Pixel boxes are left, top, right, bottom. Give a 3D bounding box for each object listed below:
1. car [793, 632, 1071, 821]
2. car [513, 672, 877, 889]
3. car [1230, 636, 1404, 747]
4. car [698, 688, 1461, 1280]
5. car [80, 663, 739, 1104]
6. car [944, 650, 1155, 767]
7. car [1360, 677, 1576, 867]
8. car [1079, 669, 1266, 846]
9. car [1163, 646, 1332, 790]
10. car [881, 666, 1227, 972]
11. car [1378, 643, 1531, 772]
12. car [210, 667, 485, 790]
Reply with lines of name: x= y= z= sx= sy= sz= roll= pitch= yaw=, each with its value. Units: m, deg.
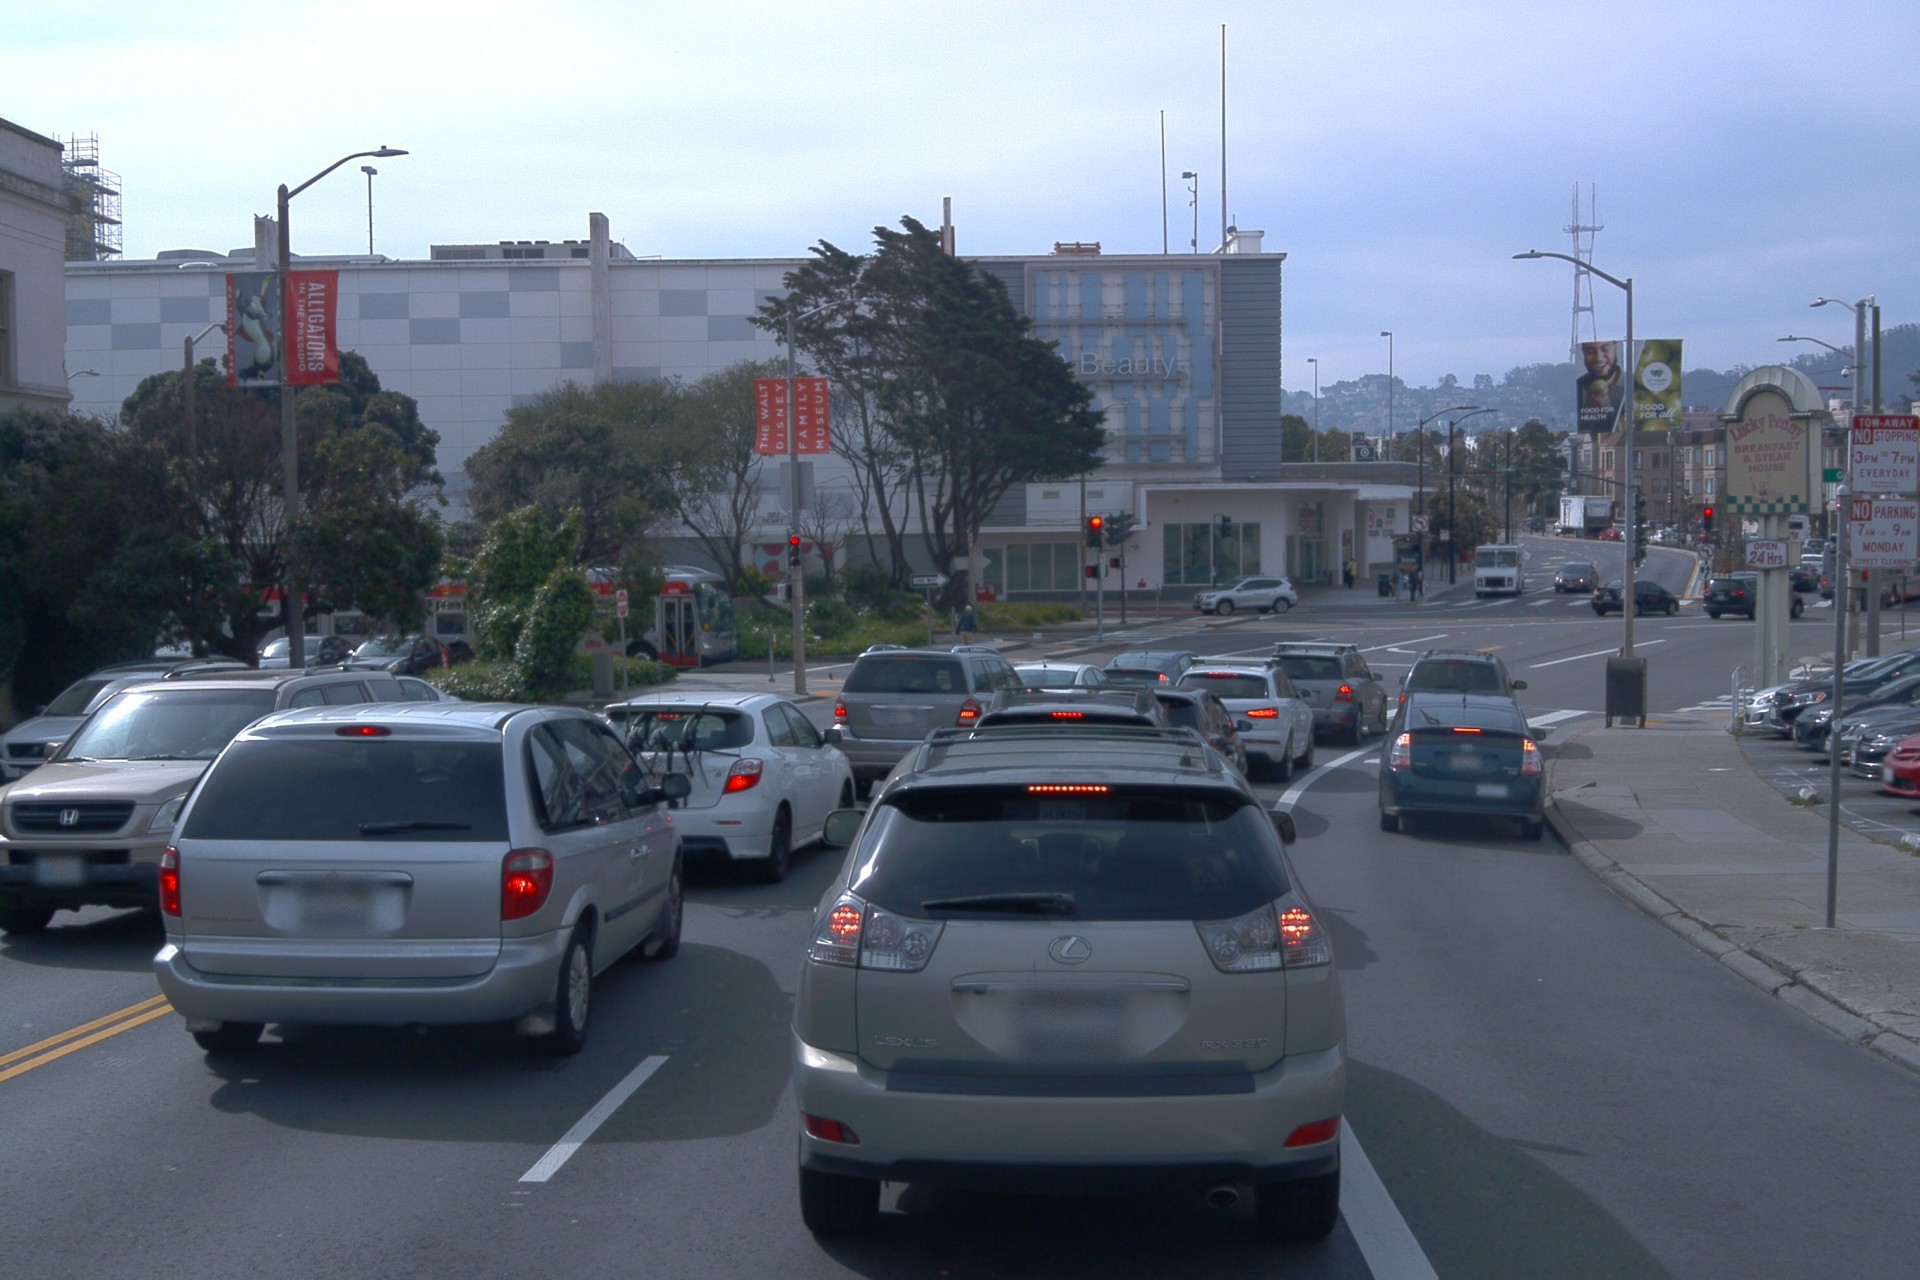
car: x=-0.210 y=0.961 z=25.550 sx=2.236 sy=2.100 sz=4.827 roll=1 pitch=0 yaw=15
car: x=-2.122 y=1.098 z=17.705 sx=1.982 sy=1.530 sz=4.306 roll=1 pitch=0 yaw=9
car: x=6.645 y=0.870 z=37.562 sx=2.226 sy=1.850 sz=5.307 roll=1 pitch=0 yaw=20
car: x=0.408 y=1.155 z=8.166 sx=2.197 sy=1.780 sz=4.467 roll=1 pitch=0 yaw=2
car: x=-2.682 y=1.089 z=11.293 sx=2.131 sy=1.830 sz=4.635 roll=1 pitch=0 yaw=4
car: x=1.524 y=1.025 z=32.769 sx=2.220 sy=1.670 sz=4.643 roll=1 pitch=0 yaw=18
car: x=5.611 y=1.380 z=23.101 sx=2.113 sy=1.790 sz=4.646 roll=1 pitch=0 yaw=11
car: x=2.542 y=1.272 z=23.723 sx=1.526 sy=1.780 sz=3.939 roll=1 pitch=0 yaw=15
car: x=4.189 y=1.039 z=29.280 sx=1.795 sy=1.880 sz=4.044 roll=1 pitch=0 yaw=17
car: x=0.881 y=1.178 z=15.484 sx=2.119 sy=1.870 sz=4.391 roll=1 pitch=0 yaw=9
car: x=8.564 y=1.075 z=35.092 sx=2.203 sy=2.020 sz=4.801 roll=1 pitch=0 yaw=18
car: x=-9.226 y=1.277 z=31.257 sx=1.977 sy=1.640 sz=4.663 roll=1 pitch=0 yaw=13
